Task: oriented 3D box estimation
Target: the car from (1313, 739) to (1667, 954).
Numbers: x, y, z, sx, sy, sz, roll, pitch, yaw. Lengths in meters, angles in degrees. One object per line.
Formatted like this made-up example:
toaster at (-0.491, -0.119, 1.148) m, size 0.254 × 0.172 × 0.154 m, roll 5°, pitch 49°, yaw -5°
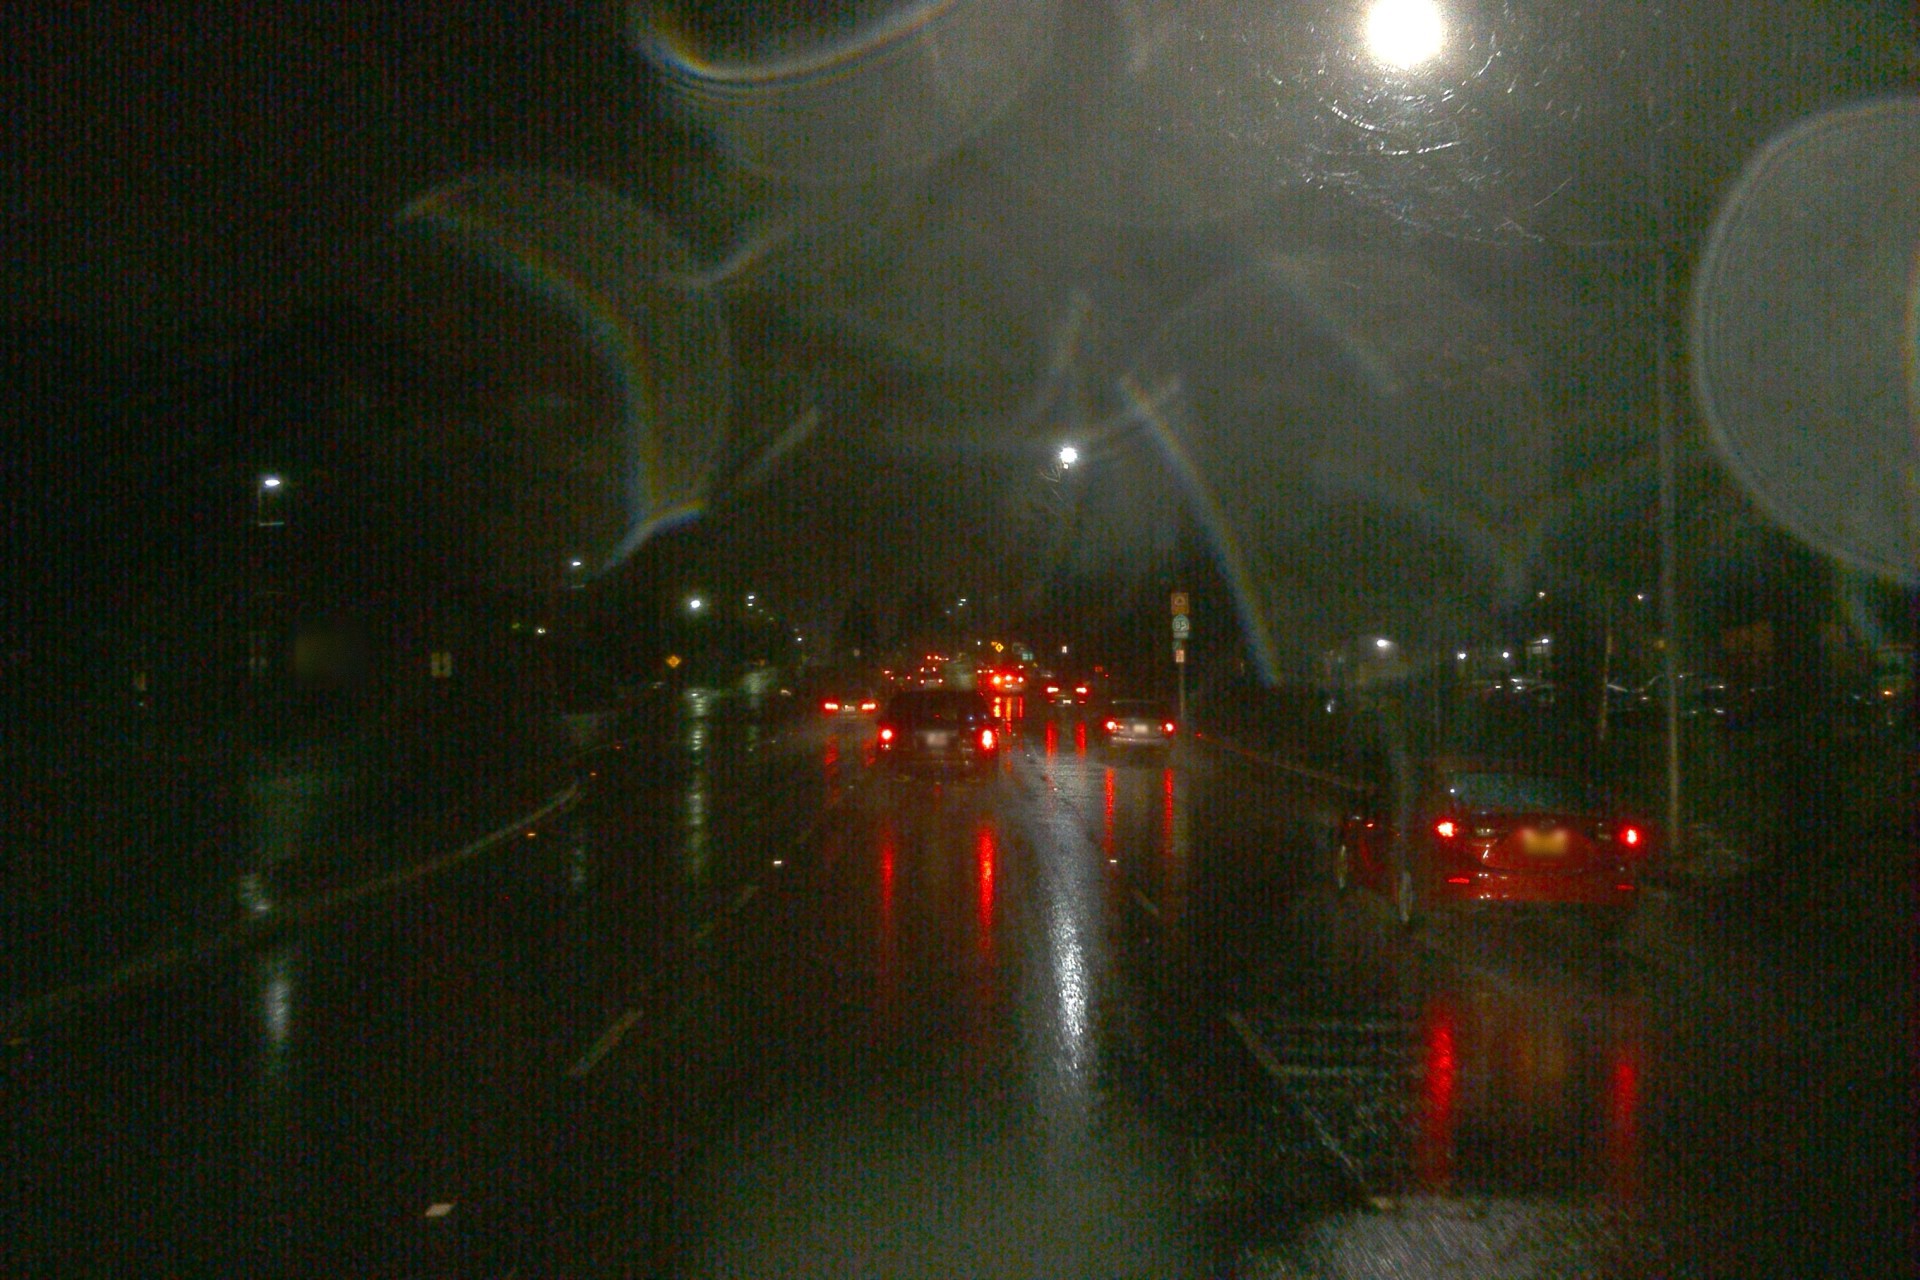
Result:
car at (4.390, 1.671, 17.971) m, size 1.963 × 1.470 × 4.264 m, roll 0°, pitch -1°, yaw 0°

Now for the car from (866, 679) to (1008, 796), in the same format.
car at (-0.350, 1.567, 34.813) m, size 2.222 × 1.800 × 4.380 m, roll 0°, pitch -1°, yaw 0°
